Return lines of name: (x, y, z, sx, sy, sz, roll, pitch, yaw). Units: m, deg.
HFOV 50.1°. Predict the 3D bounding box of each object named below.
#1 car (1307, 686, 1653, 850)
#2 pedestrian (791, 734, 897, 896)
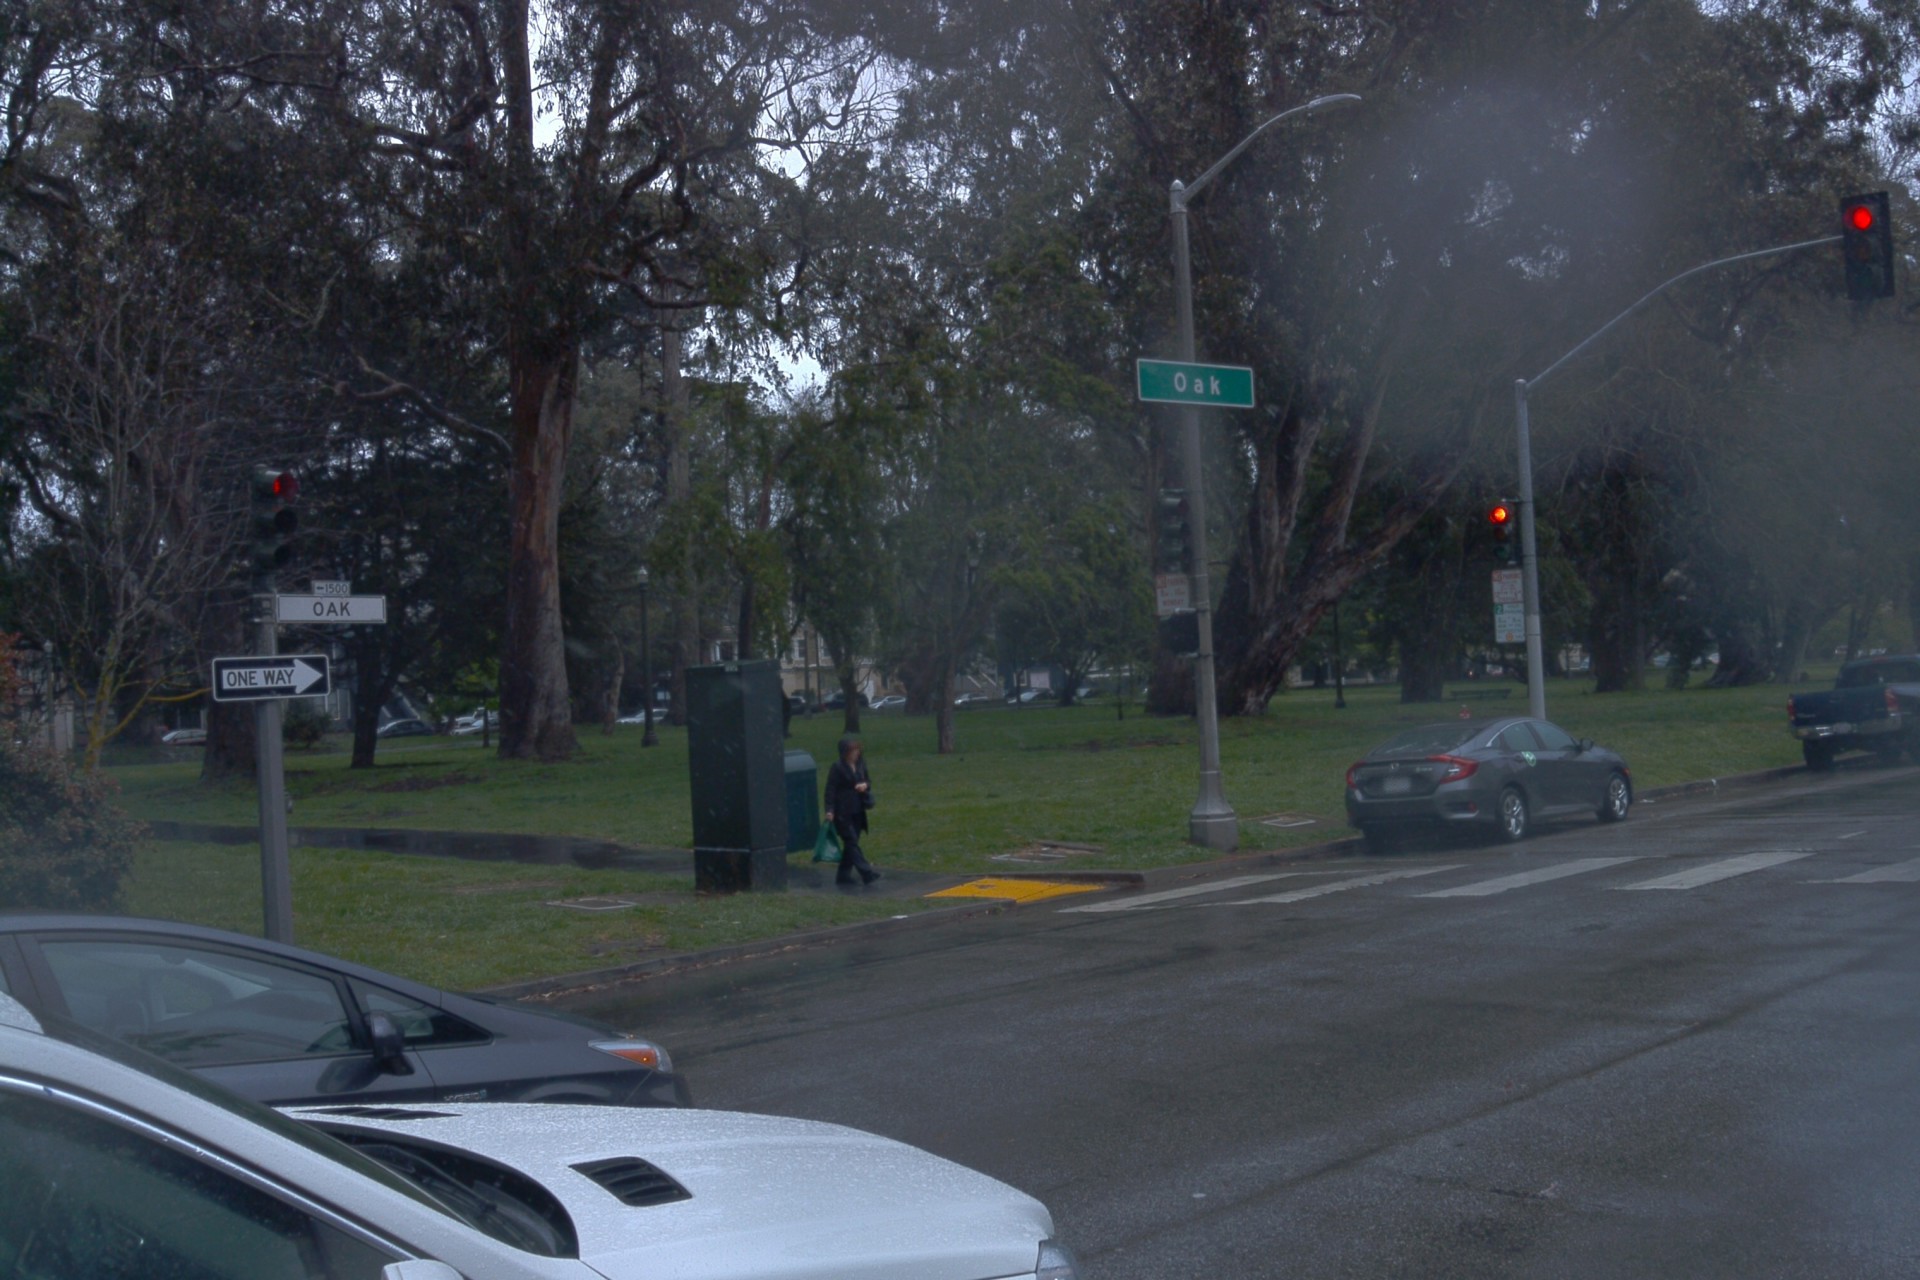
car: (6.197, 1.414, 24.128, 2.031, 1.540, 4.554, 1, 2, 42)
pedestrian: (-1.192, 1.786, 21.221, 0.722, 1.560, 0.835, 1, 2, 38)
